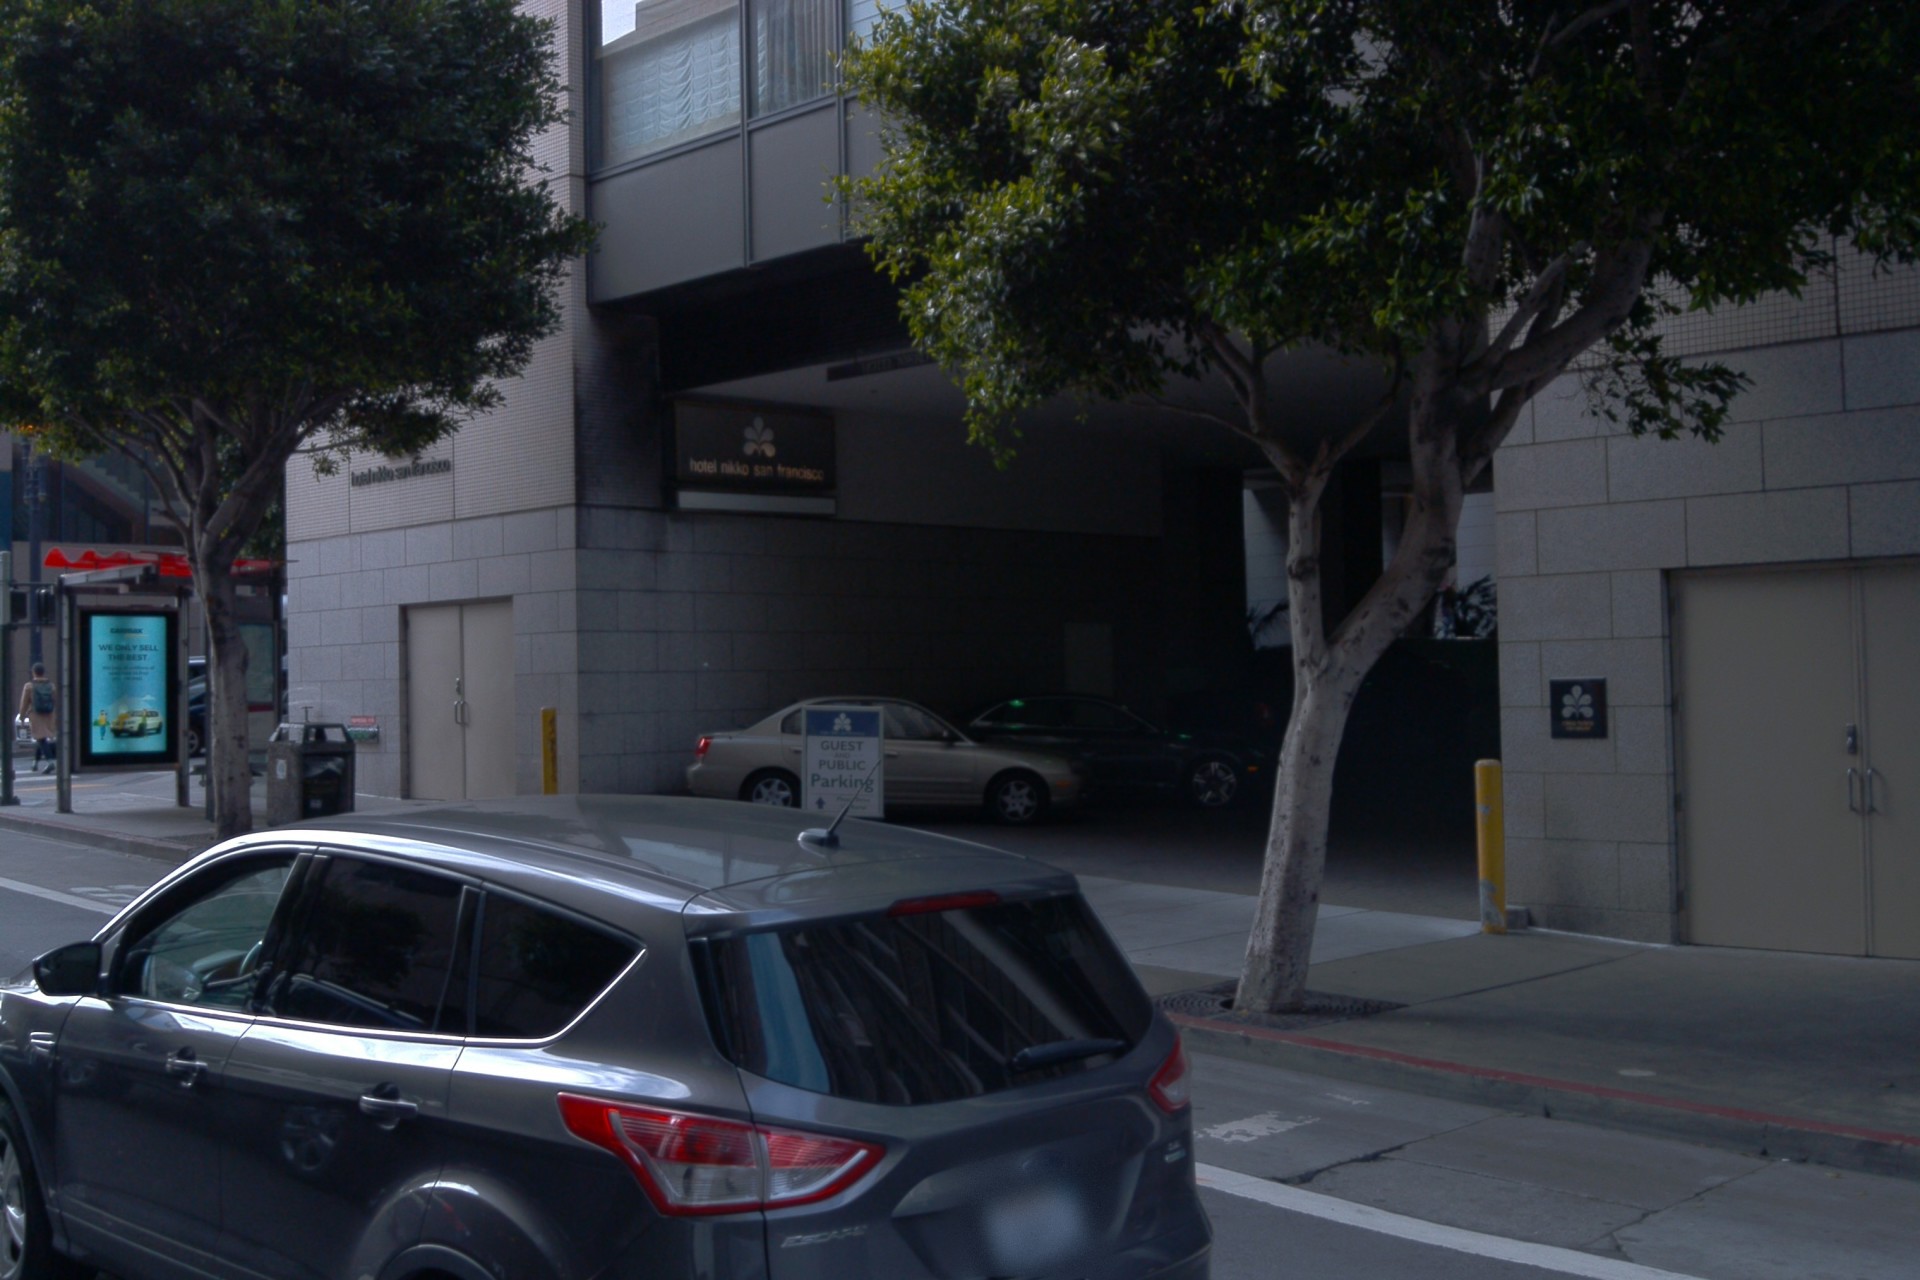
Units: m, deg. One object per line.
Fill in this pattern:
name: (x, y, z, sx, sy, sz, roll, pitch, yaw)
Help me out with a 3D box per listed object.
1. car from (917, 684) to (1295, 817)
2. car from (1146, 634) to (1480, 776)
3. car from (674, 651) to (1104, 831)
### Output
car: (1.723, 1.317, 25.123, 4.429, 1.500, 1.858, 0, 0, 1)
car: (5.575, 0.922, 31.955, 5.637, 1.970, 2.175, -1, 1, -44)
car: (-0.759, 1.072, 22.611, 4.538, 1.860, 1.771, 0, 0, 0)
